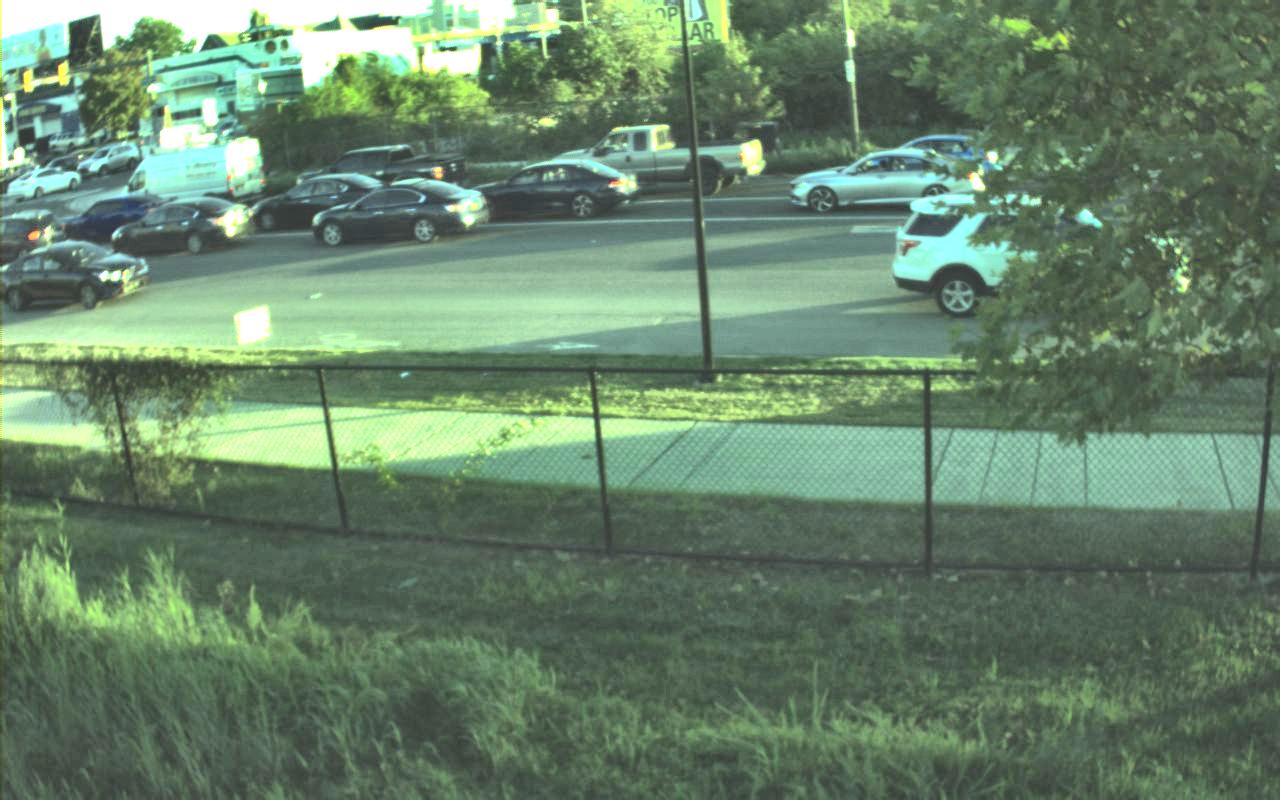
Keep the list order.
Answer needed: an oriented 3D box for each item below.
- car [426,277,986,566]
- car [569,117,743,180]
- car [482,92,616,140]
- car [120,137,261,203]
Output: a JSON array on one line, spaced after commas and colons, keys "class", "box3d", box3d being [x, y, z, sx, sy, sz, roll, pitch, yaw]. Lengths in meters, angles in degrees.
[{"class": "car", "box3d": [0.644, 0.037, 11.582, 4.719, 1.711, 2.075, 6, 17, 23]}, {"class": "car", "box3d": [0.469, -7.251, 35.864, 4.564, 1.611, 2.003, 5, 17, 19]}, {"class": "car", "box3d": [-3.573, -11.129, 48.635, 4.775, 1.714, 2.073, 4, 16, 17]}, {"class": "car", "box3d": [-15.800, -7.948, 41.235, 4.866, 1.921, 2.125, 4, 16, 17]}]
